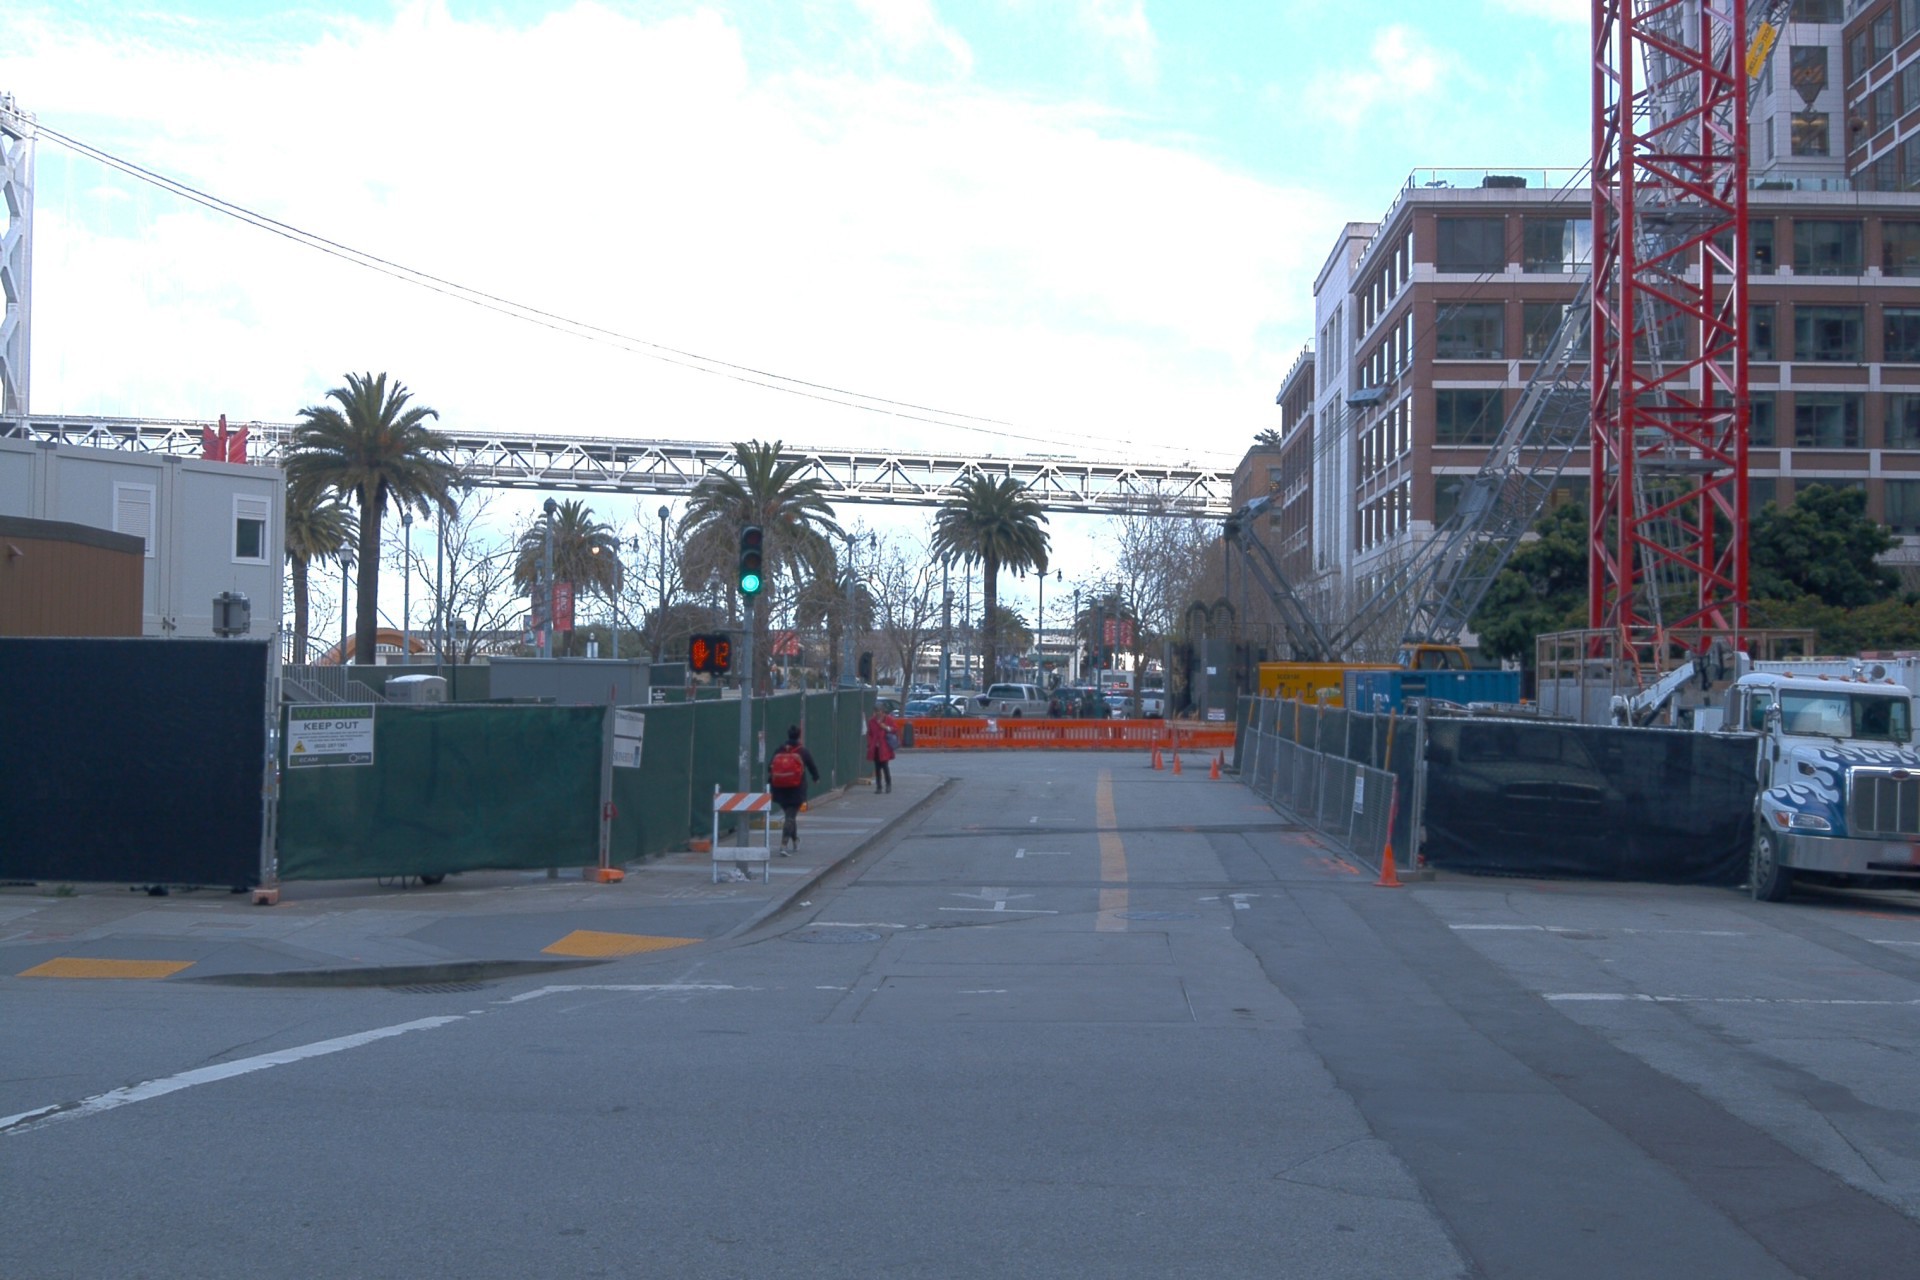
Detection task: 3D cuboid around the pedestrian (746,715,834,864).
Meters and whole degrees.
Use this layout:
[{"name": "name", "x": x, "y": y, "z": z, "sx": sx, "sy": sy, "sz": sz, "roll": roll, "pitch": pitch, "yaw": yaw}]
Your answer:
[{"name": "pedestrian", "x": -2.116, "y": 1.847, "z": 25.591, "sx": 0.771, "sy": 1.760, "sz": 1.196, "roll": 1, "pitch": 0, "yaw": 12}]

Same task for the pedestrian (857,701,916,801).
[{"name": "pedestrian", "x": -1.364, "y": 2.059, "z": 38.118, "sx": 0.928, "sy": 1.790, "sz": 0.851, "roll": 1, "pitch": 0, "yaw": 11}]

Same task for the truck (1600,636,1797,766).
[{"name": "truck", "x": 9.579, "y": 0.733, "z": 26.810, "sx": 1.127, "sy": 1.550, "sz": 4.267, "roll": 1, "pitch": 0, "yaw": 2}]
